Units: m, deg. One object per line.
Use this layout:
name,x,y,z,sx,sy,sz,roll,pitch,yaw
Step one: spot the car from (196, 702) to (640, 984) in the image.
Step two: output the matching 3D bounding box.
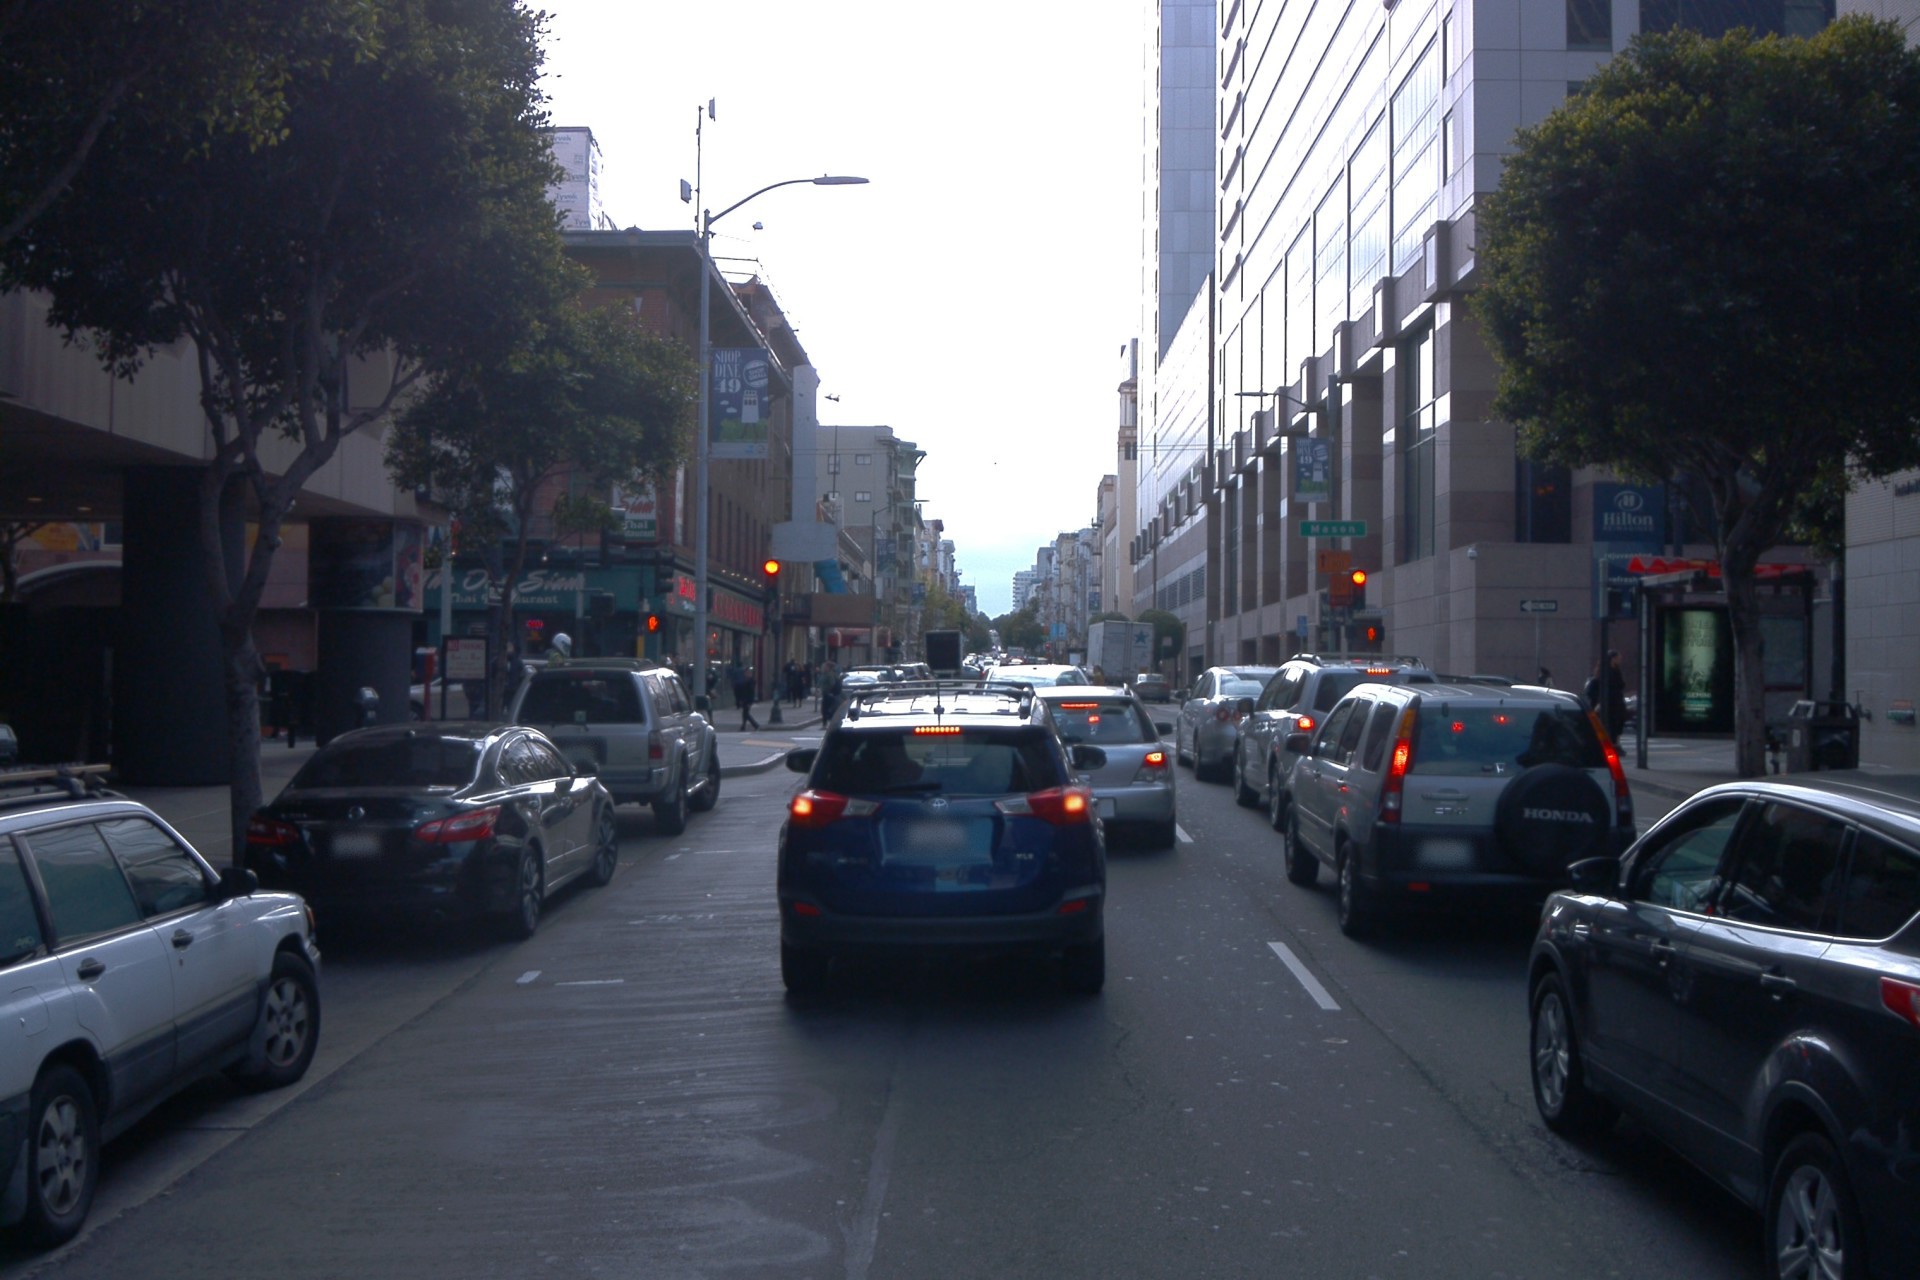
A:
car,-3.790,1.350,15.346,1.969,1.570,4.799,0,1,1

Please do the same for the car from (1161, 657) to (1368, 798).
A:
car,3.908,1.080,27.236,2.064,1.590,4.796,0,1,1

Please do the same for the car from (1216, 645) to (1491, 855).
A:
car,3.938,1.031,21.394,2.029,1.870,4.664,0,1,1

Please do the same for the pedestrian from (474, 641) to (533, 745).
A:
pedestrian,-7.338,0.842,33.068,0.779,1.650,0.864,0,1,-2

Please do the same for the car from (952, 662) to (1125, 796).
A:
car,0.937,1.096,27.089,2.074,1.500,4.588,0,1,0

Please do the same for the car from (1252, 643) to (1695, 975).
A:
car,3.394,1.016,14.573,1.983,1.910,4.572,0,1,0

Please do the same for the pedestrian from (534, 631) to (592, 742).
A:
pedestrian,-6.785,0.782,35.102,0.708,1.880,0.658,0,1,30

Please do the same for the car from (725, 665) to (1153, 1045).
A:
car,-0.096,1.130,12.790,2.184,1.830,4.554,0,1,0

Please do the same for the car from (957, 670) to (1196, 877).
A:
car,1.090,1.170,19.847,2.030,1.630,4.707,0,1,3

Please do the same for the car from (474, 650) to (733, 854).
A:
car,-3.698,1.098,22.179,1.995,1.880,4.689,0,1,0

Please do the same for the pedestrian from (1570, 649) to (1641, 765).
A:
pedestrian,10.368,1.058,33.053,1.007,1.830,0.695,0,1,11
